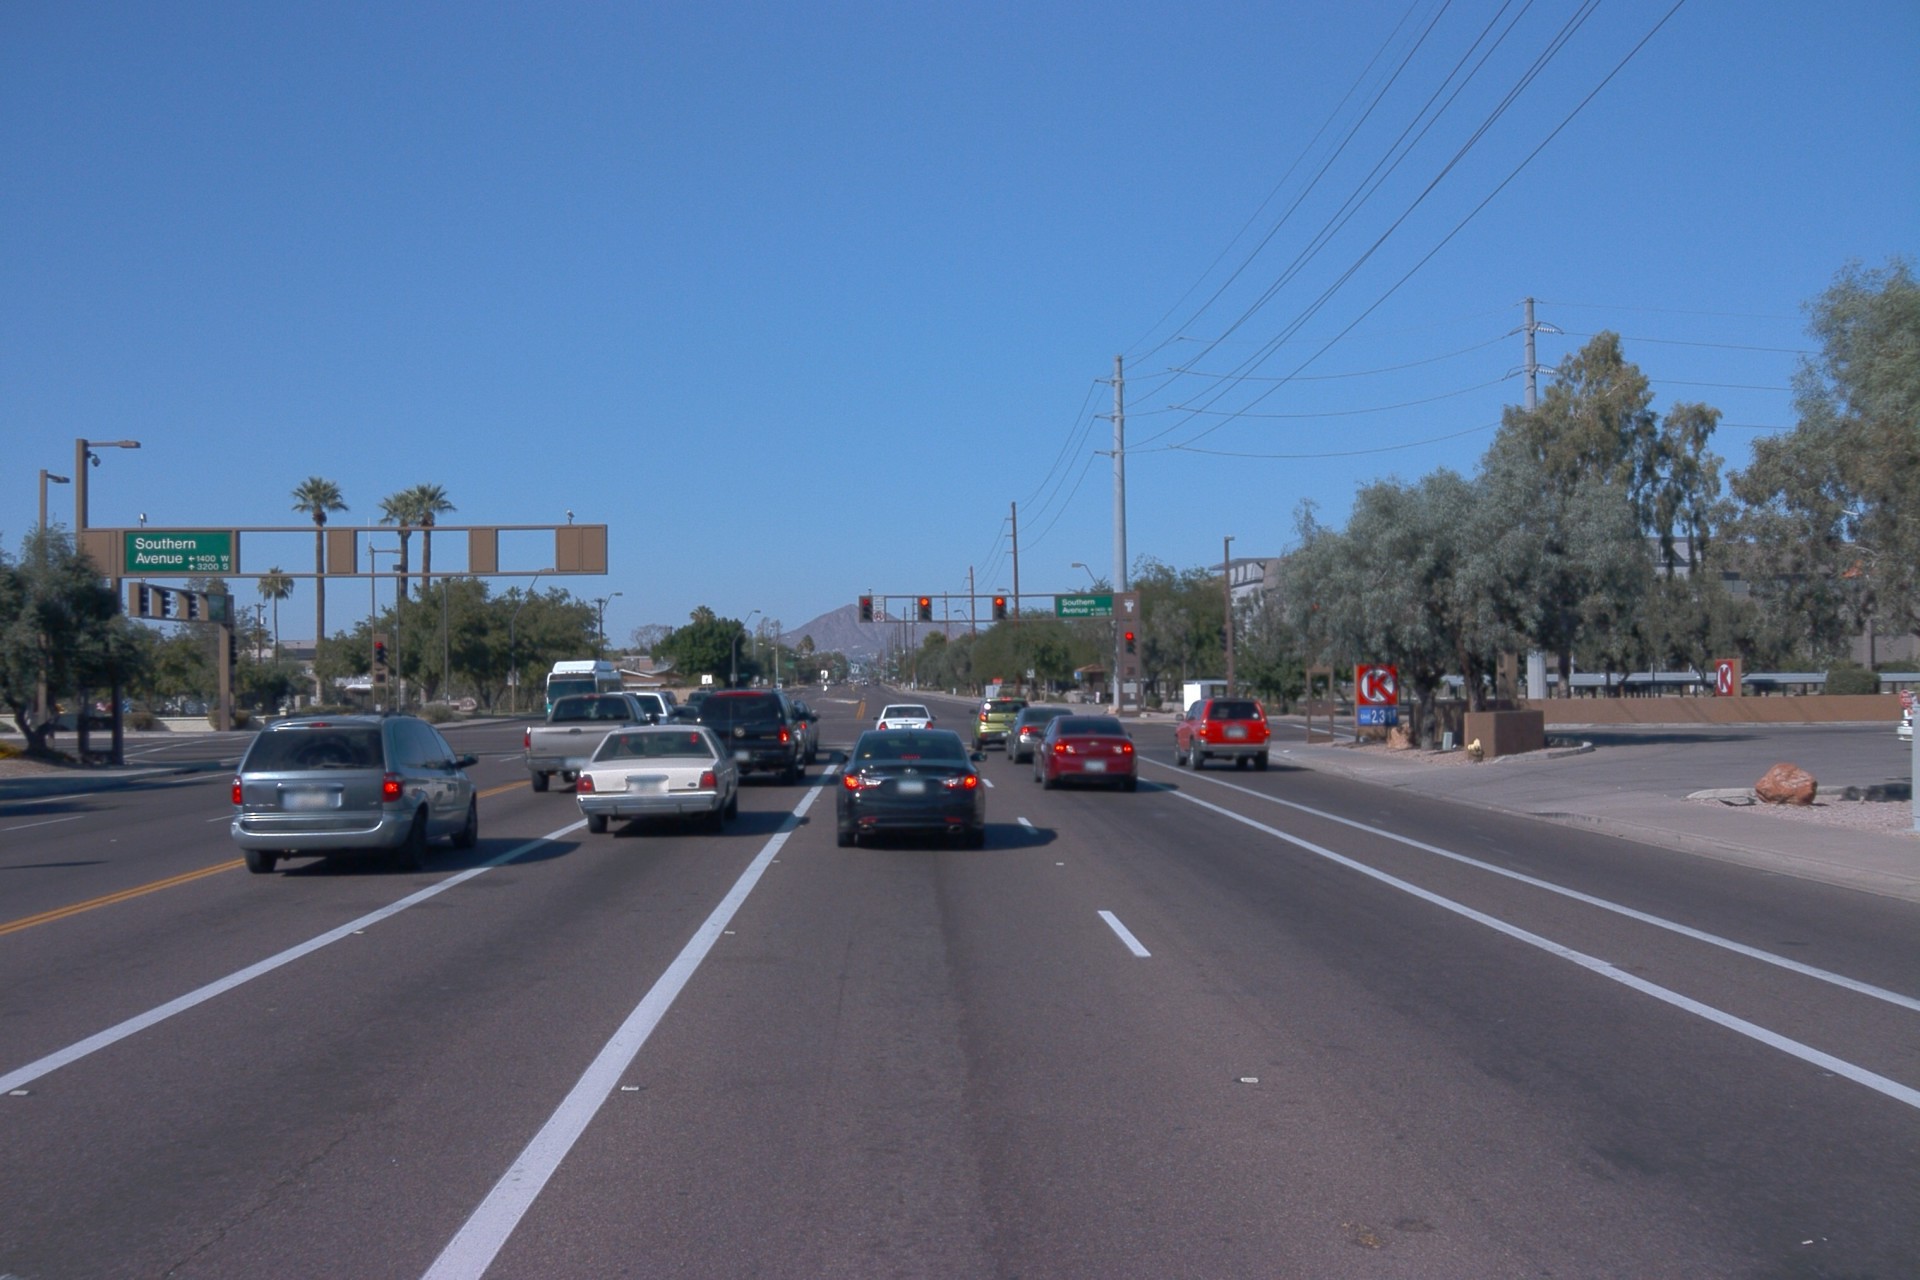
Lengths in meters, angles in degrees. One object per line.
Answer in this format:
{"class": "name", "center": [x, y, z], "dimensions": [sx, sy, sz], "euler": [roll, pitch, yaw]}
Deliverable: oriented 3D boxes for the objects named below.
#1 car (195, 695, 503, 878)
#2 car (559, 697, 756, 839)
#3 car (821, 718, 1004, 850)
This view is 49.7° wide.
{"class": "car", "center": [-6.965, 1.605, 24.245], "dimensions": [2.263, 1.880, 4.994], "euler": [0, -1, -2]}
{"class": "car", "center": [-4.166, 1.724, 29.435], "dimensions": [2.178, 1.790, 5.373], "euler": [0, -1, -2]}
{"class": "car", "center": [-0.642, 1.800, 26.909], "dimensions": [2.156, 1.470, 4.807], "euler": [0, -1, -2]}
